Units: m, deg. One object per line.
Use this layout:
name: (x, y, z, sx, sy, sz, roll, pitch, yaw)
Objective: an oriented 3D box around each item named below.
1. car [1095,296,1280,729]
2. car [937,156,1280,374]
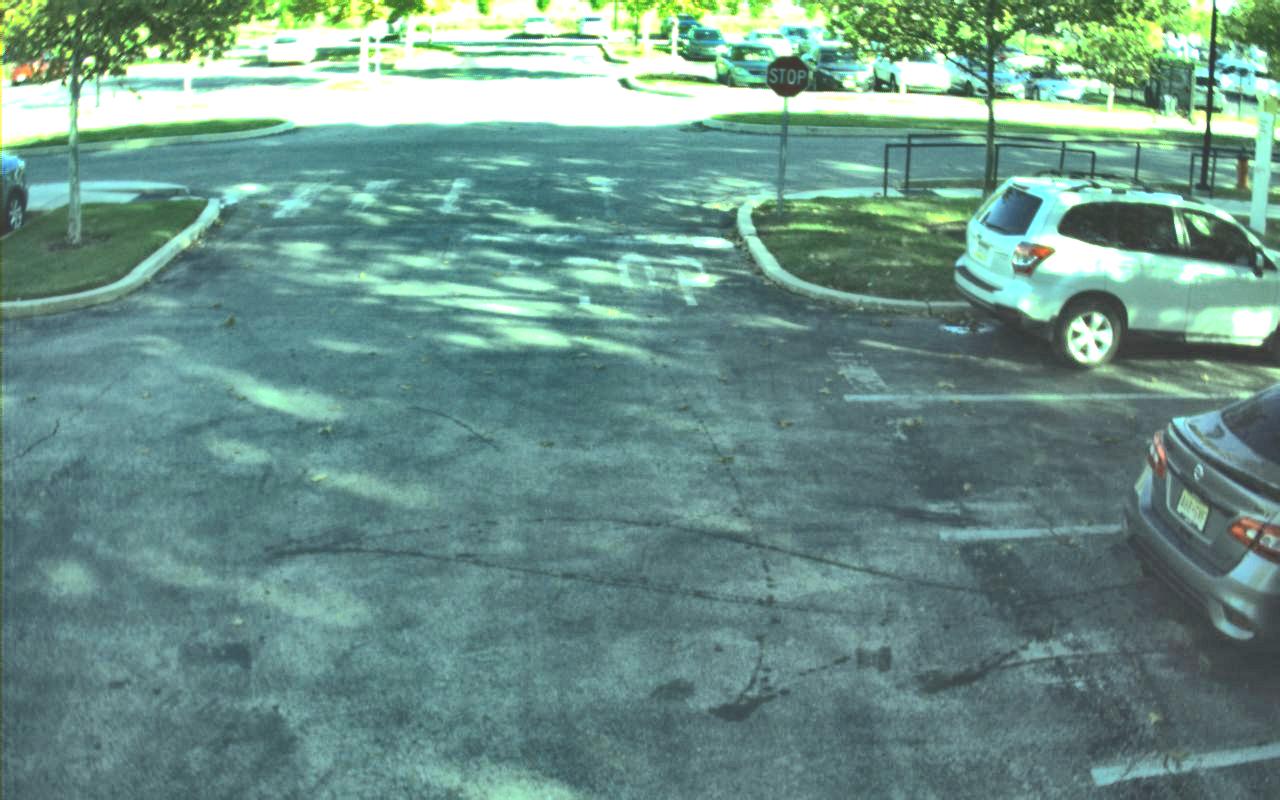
car: (5.063, 0.449, 6.268, 4.461, 1.581, 1.967, -3, 16, -7)
car: (5.448, -1.456, 11.923, 4.577, 1.741, 1.994, -3, 16, -5)
